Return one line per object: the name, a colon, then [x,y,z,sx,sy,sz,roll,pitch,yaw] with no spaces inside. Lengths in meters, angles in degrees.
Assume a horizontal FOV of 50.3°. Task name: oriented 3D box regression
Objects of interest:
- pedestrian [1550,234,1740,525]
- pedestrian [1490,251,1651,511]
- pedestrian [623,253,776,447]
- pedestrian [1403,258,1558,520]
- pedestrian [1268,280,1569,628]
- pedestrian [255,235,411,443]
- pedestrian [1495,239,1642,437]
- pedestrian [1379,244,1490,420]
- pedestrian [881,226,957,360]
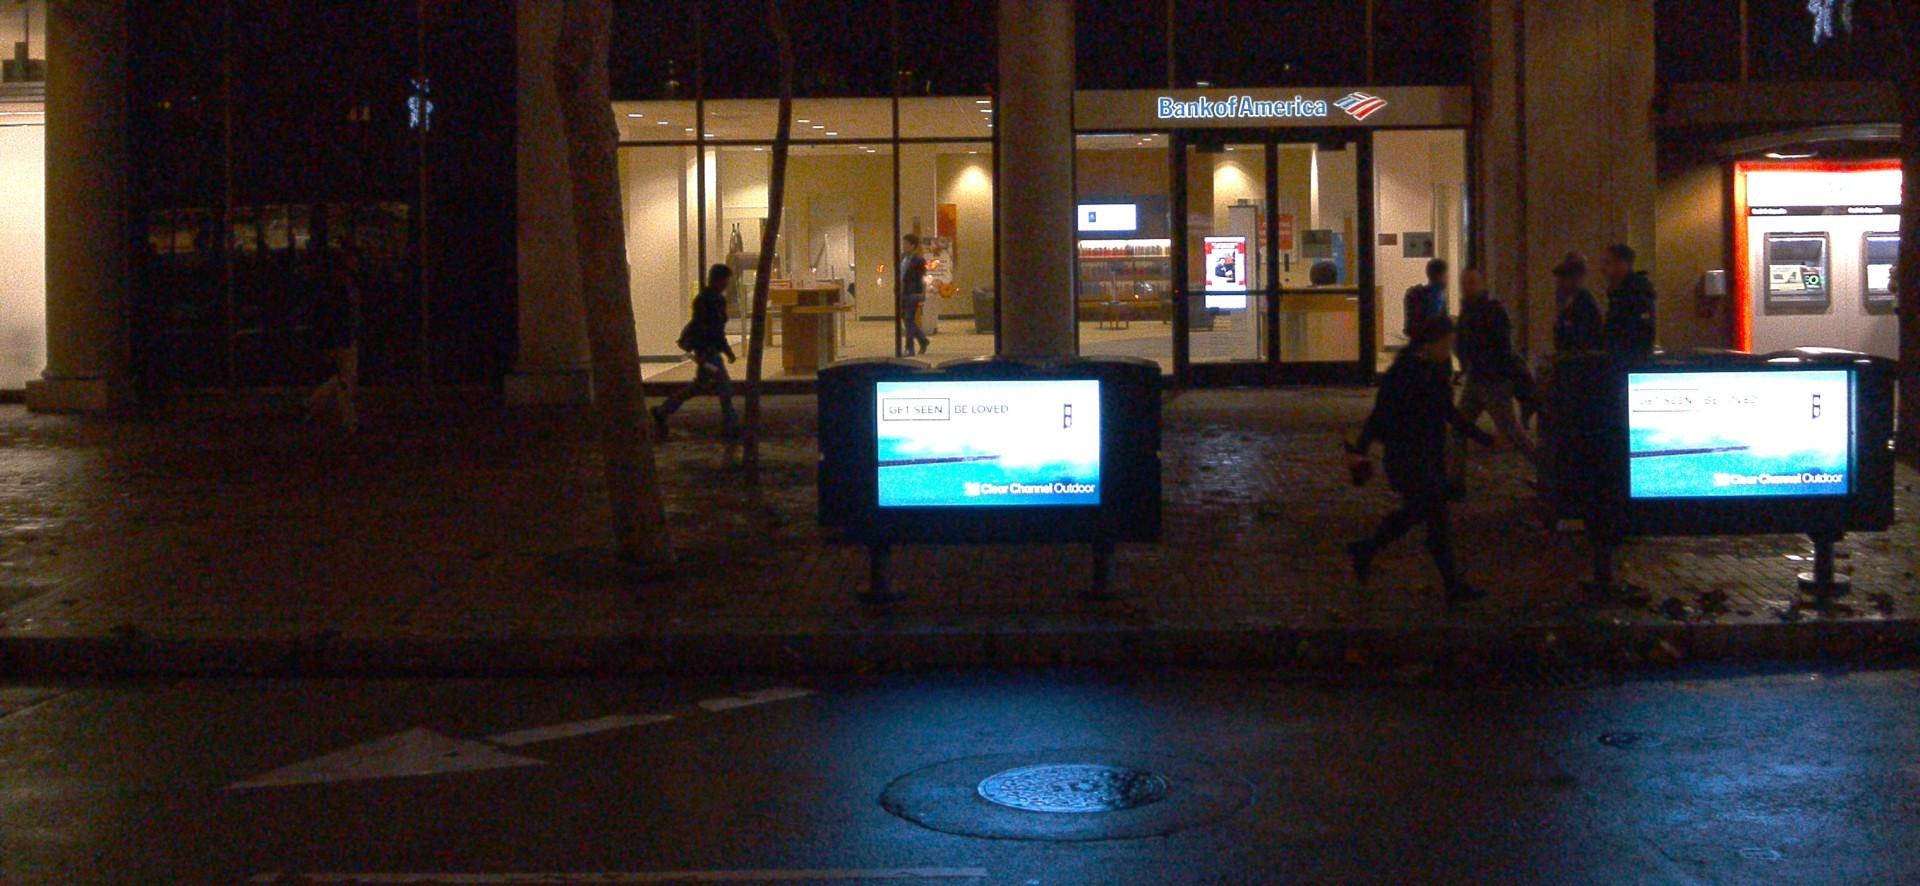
pedestrian: [4.642,-0.461,13.914,1.018,1.885,0.789,-1,2,-4]
pedestrian: [4.339,-0.483,14.628,1.054,1.735,1.181,0,3,13]
pedestrian: [-2.408,-0.887,19.025,1.127,1.715,0.915,0,3,11]
pedestrian: [3.709,-0.410,14.562,1.037,1.785,0.703,0,2,14]
pedestrian: [2.553,-0.005,11.486,1.156,1.745,1.214,-2,4,-25]
pedestrian: [-5.918,-1.008,19.379,1.050,1.885,1.025,-1,3,4]
pedestrian: [5.432,-0.959,18.310,1.060,1.685,0.936,-1,3,0]
pedestrian: [4.493,-1.068,19.399,0.889,1.596,0.771,-1,3,1]
pedestrian: [-0.563,-2.090,28.291,0.692,1.795,0.837,0,3,28]
